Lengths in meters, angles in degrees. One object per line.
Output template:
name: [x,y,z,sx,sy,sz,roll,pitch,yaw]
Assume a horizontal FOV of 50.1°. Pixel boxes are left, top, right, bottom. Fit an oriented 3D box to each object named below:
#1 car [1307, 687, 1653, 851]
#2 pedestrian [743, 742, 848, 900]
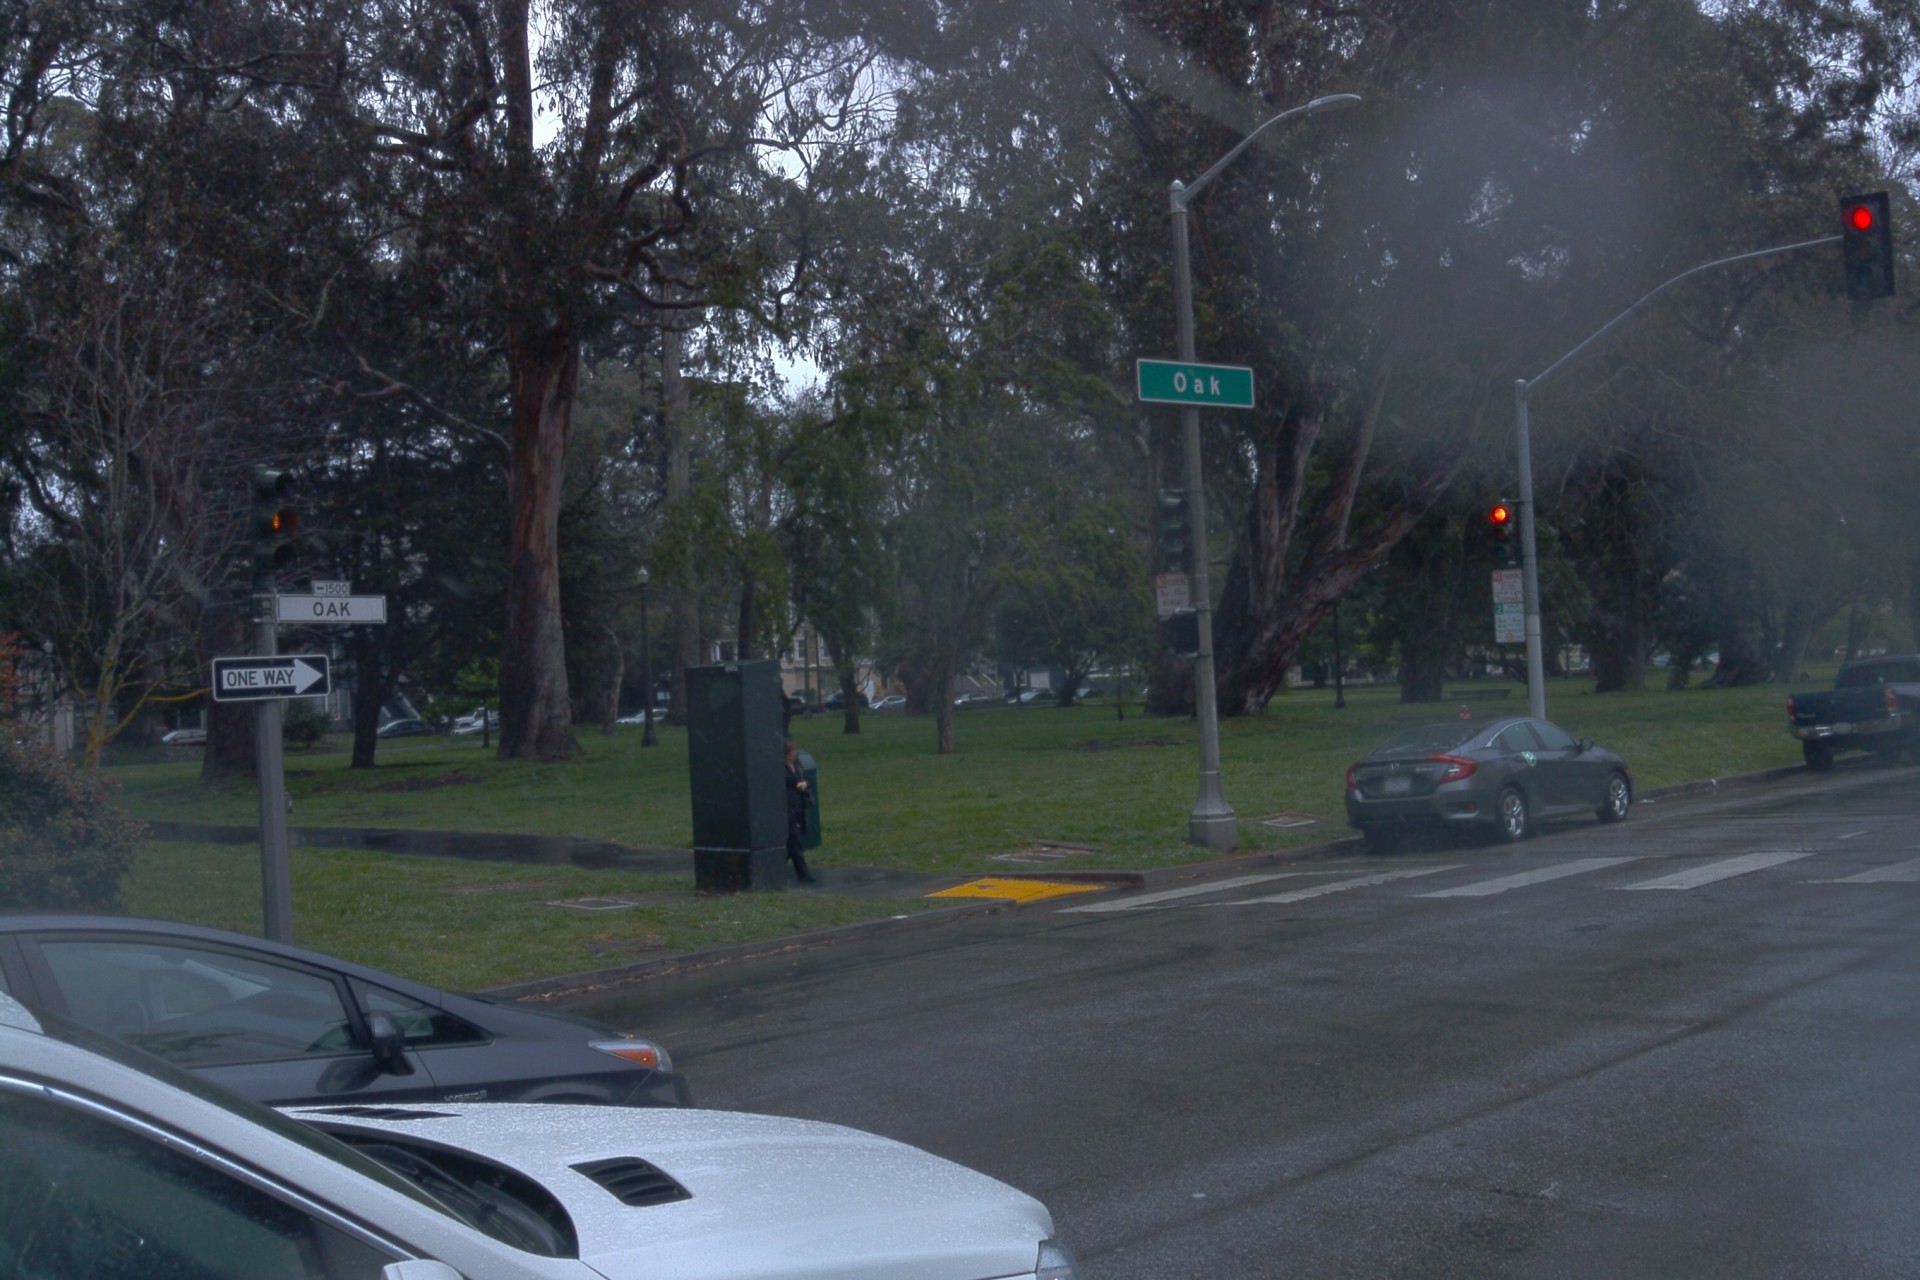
car: [6.197,1.419,24.128,2.031,1.540,4.554,1,2,42]
pedestrian: [-1.748,1.902,21.817,0.835,1.560,0.722,-1,2,-44]
